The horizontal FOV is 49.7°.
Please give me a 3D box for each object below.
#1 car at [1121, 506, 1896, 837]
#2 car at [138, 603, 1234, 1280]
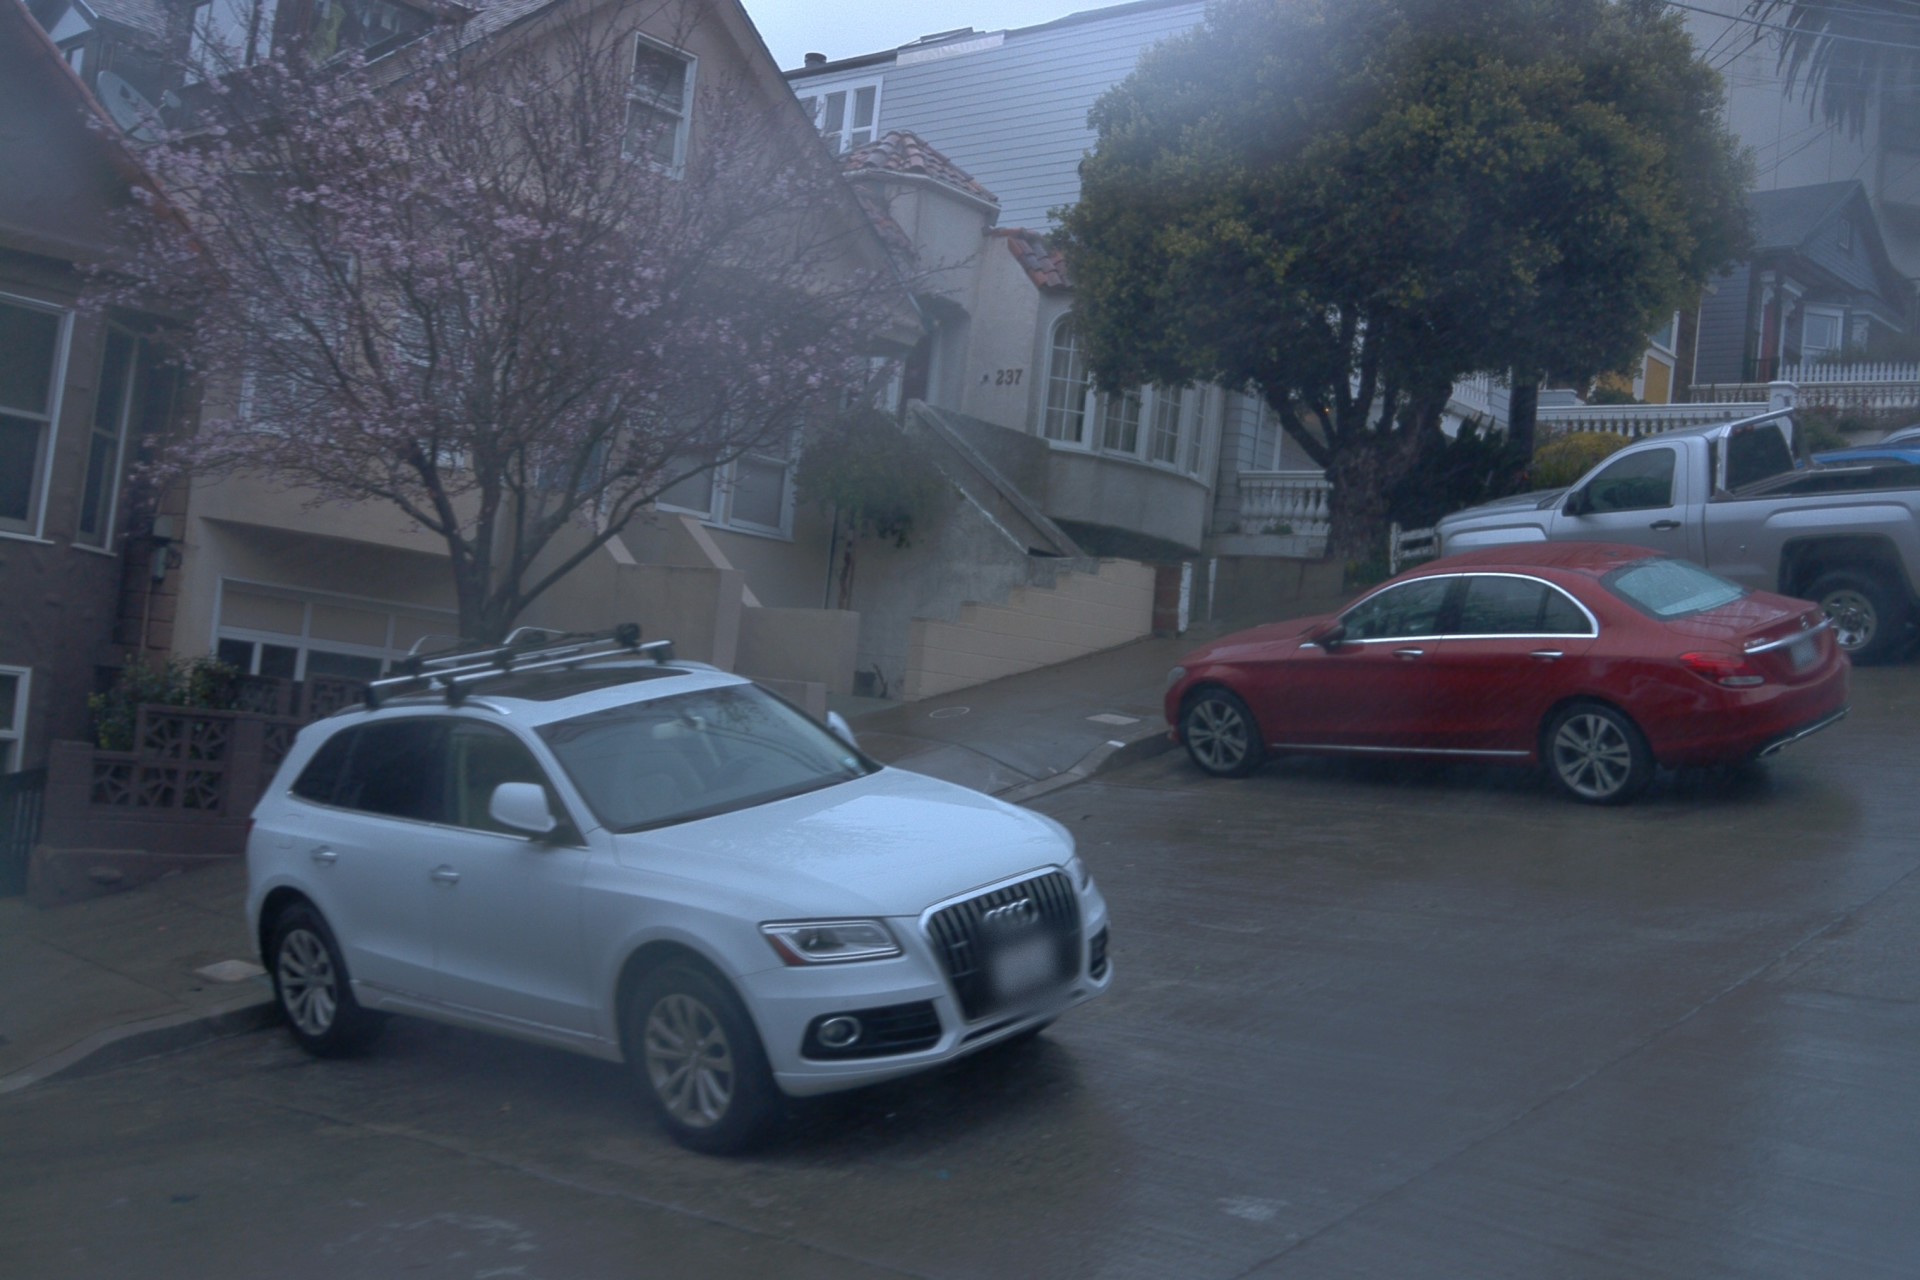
[{"bbox_3d":[3.448,0.172,13.685,4.595,1.820,1.892,0,0,44],"label":"car"},{"bbox_3d":[-1.393,0.967,8.974,4.668,2.170,2.233,0,0,43],"label":"car"}]
